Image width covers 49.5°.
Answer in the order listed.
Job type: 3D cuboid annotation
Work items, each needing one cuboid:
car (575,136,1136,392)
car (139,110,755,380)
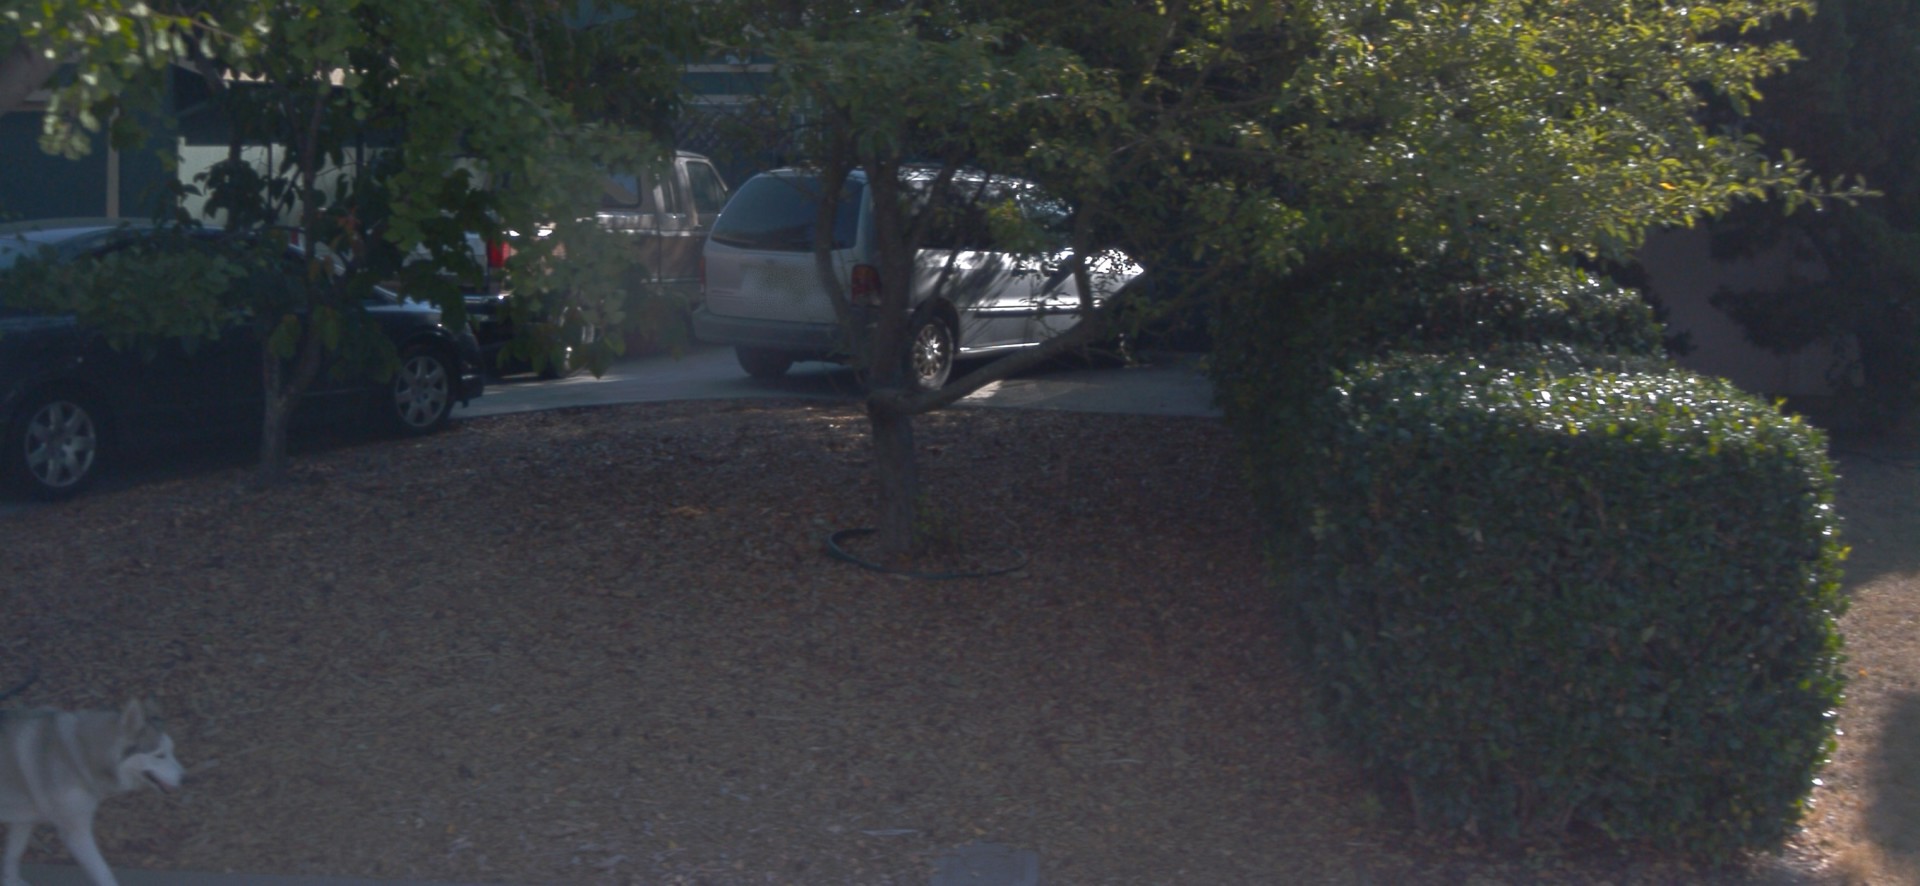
[{"bbox_3d":[-0.677,-1.522,17.535,2.139,1.815,5.007,3,5,33],"label":"car"},{"bbox_3d":[-4.080,-1.706,17.948,2.496,1.924,5.631,2,5,18],"label":"car"}]
